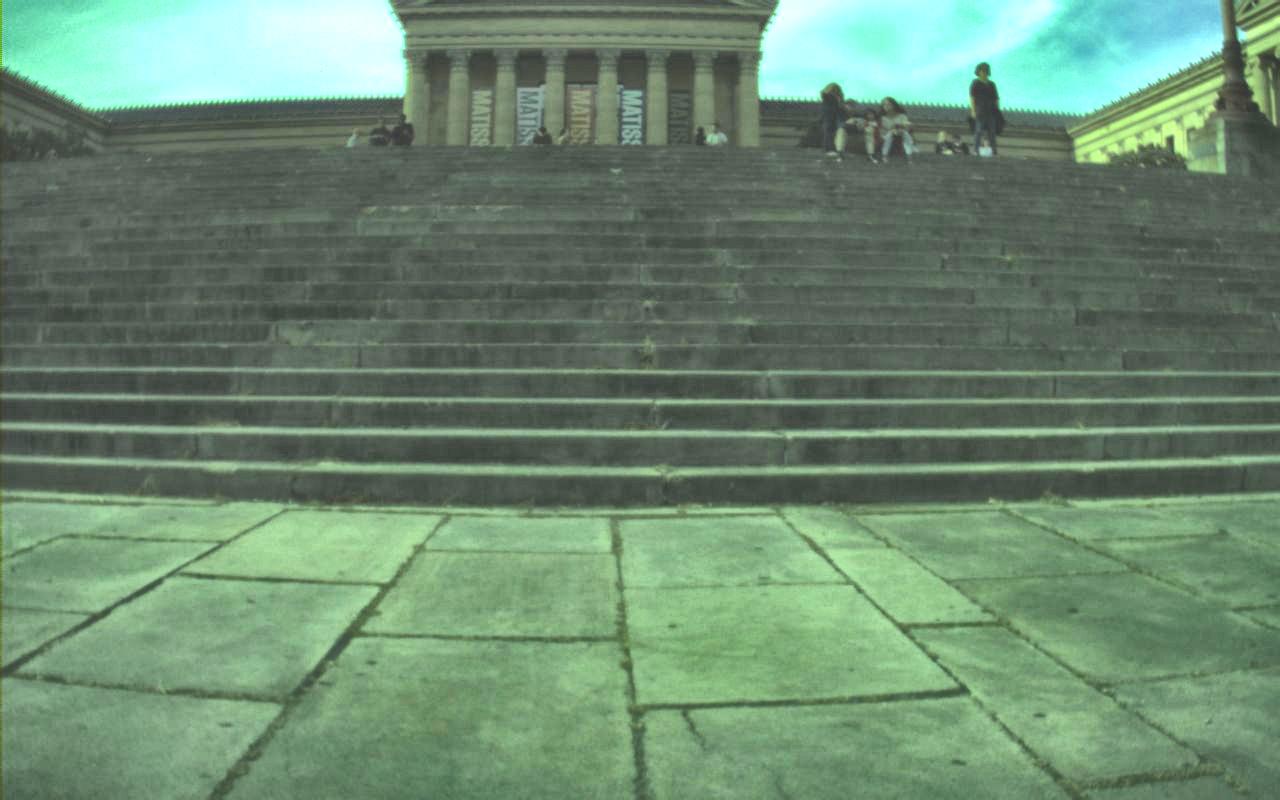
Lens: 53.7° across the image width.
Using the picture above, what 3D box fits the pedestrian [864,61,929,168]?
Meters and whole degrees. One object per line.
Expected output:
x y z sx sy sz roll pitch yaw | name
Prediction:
3.842 -4.267 18.405 0.749 1.472 0.751 0 0 -9 | pedestrian

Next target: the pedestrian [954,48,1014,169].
5.531 -4.656 19.393 0.748 1.828 0.737 0 0 -1 | pedestrian

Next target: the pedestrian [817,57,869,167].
3.040 -4.303 18.497 0.682 1.542 0.716 0 0 2 | pedestrian
